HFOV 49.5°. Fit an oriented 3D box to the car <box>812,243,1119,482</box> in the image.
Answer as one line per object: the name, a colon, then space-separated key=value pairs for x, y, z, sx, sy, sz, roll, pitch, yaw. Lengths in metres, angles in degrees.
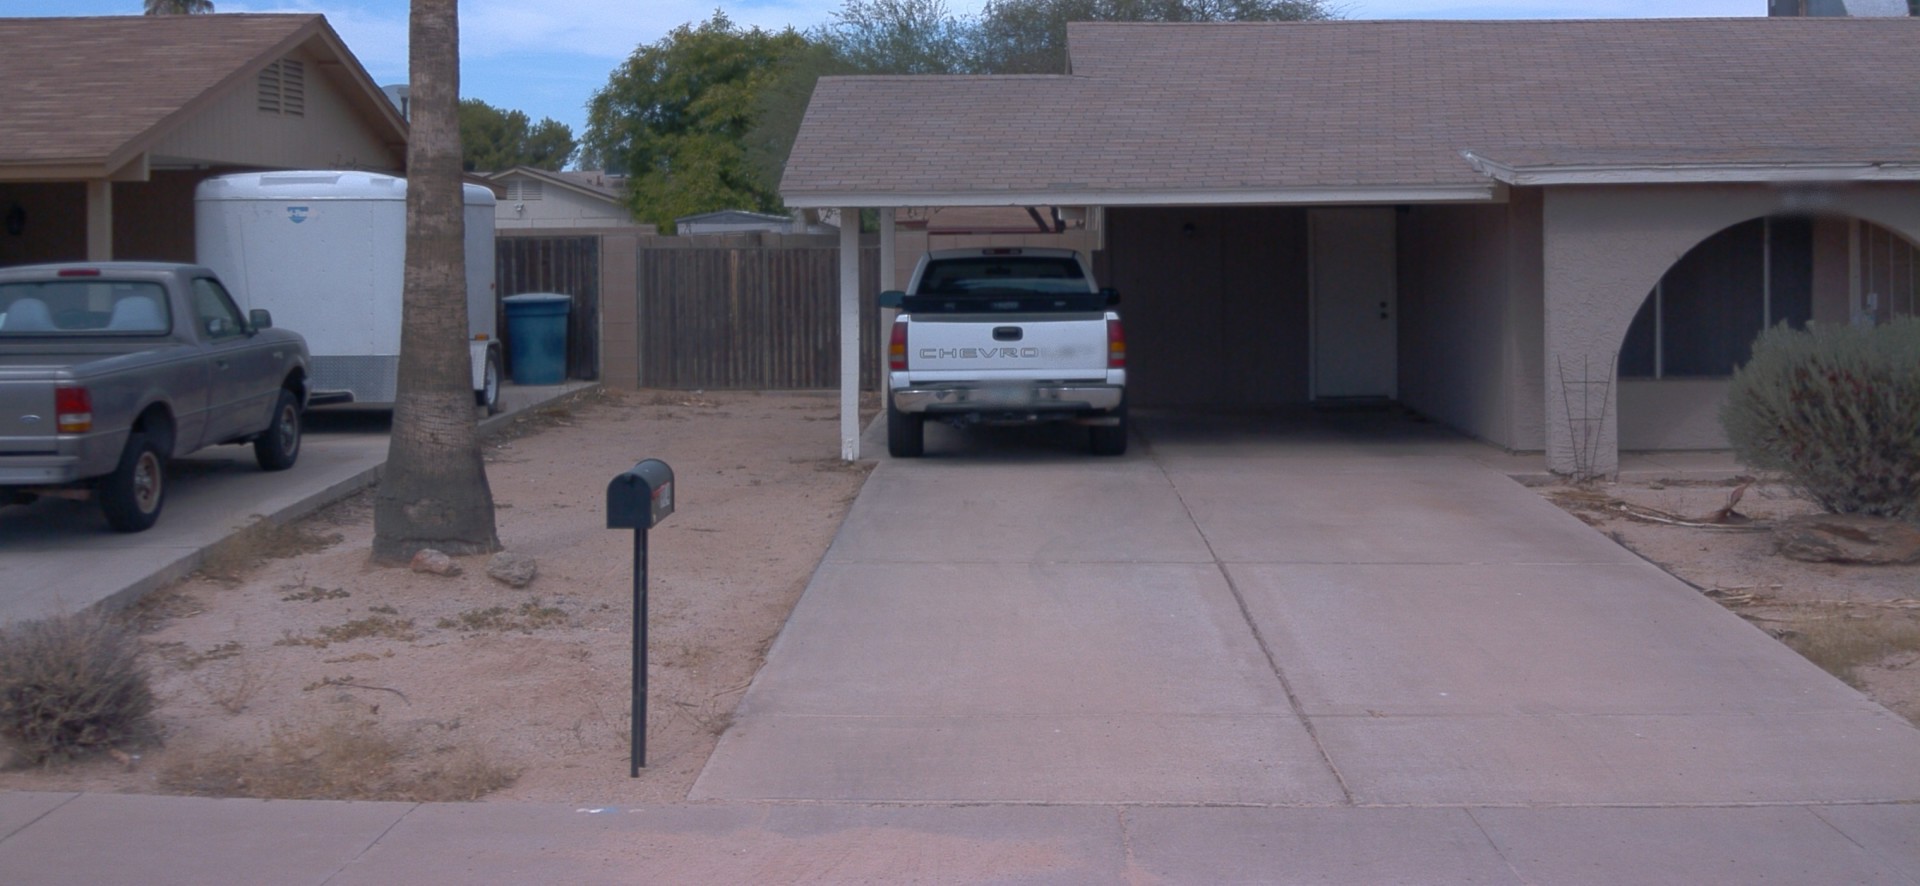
car: x=0.103 y=-0.920 z=19.599 sx=2.453 sy=1.852 sz=5.743 roll=0 pitch=5 yaw=1

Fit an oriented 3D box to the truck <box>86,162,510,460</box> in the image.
truck: x=-5.869 y=-1.310 z=19.180 sx=2.356 sy=2.391 sz=4.627 roll=0 pitch=5 yaw=1
